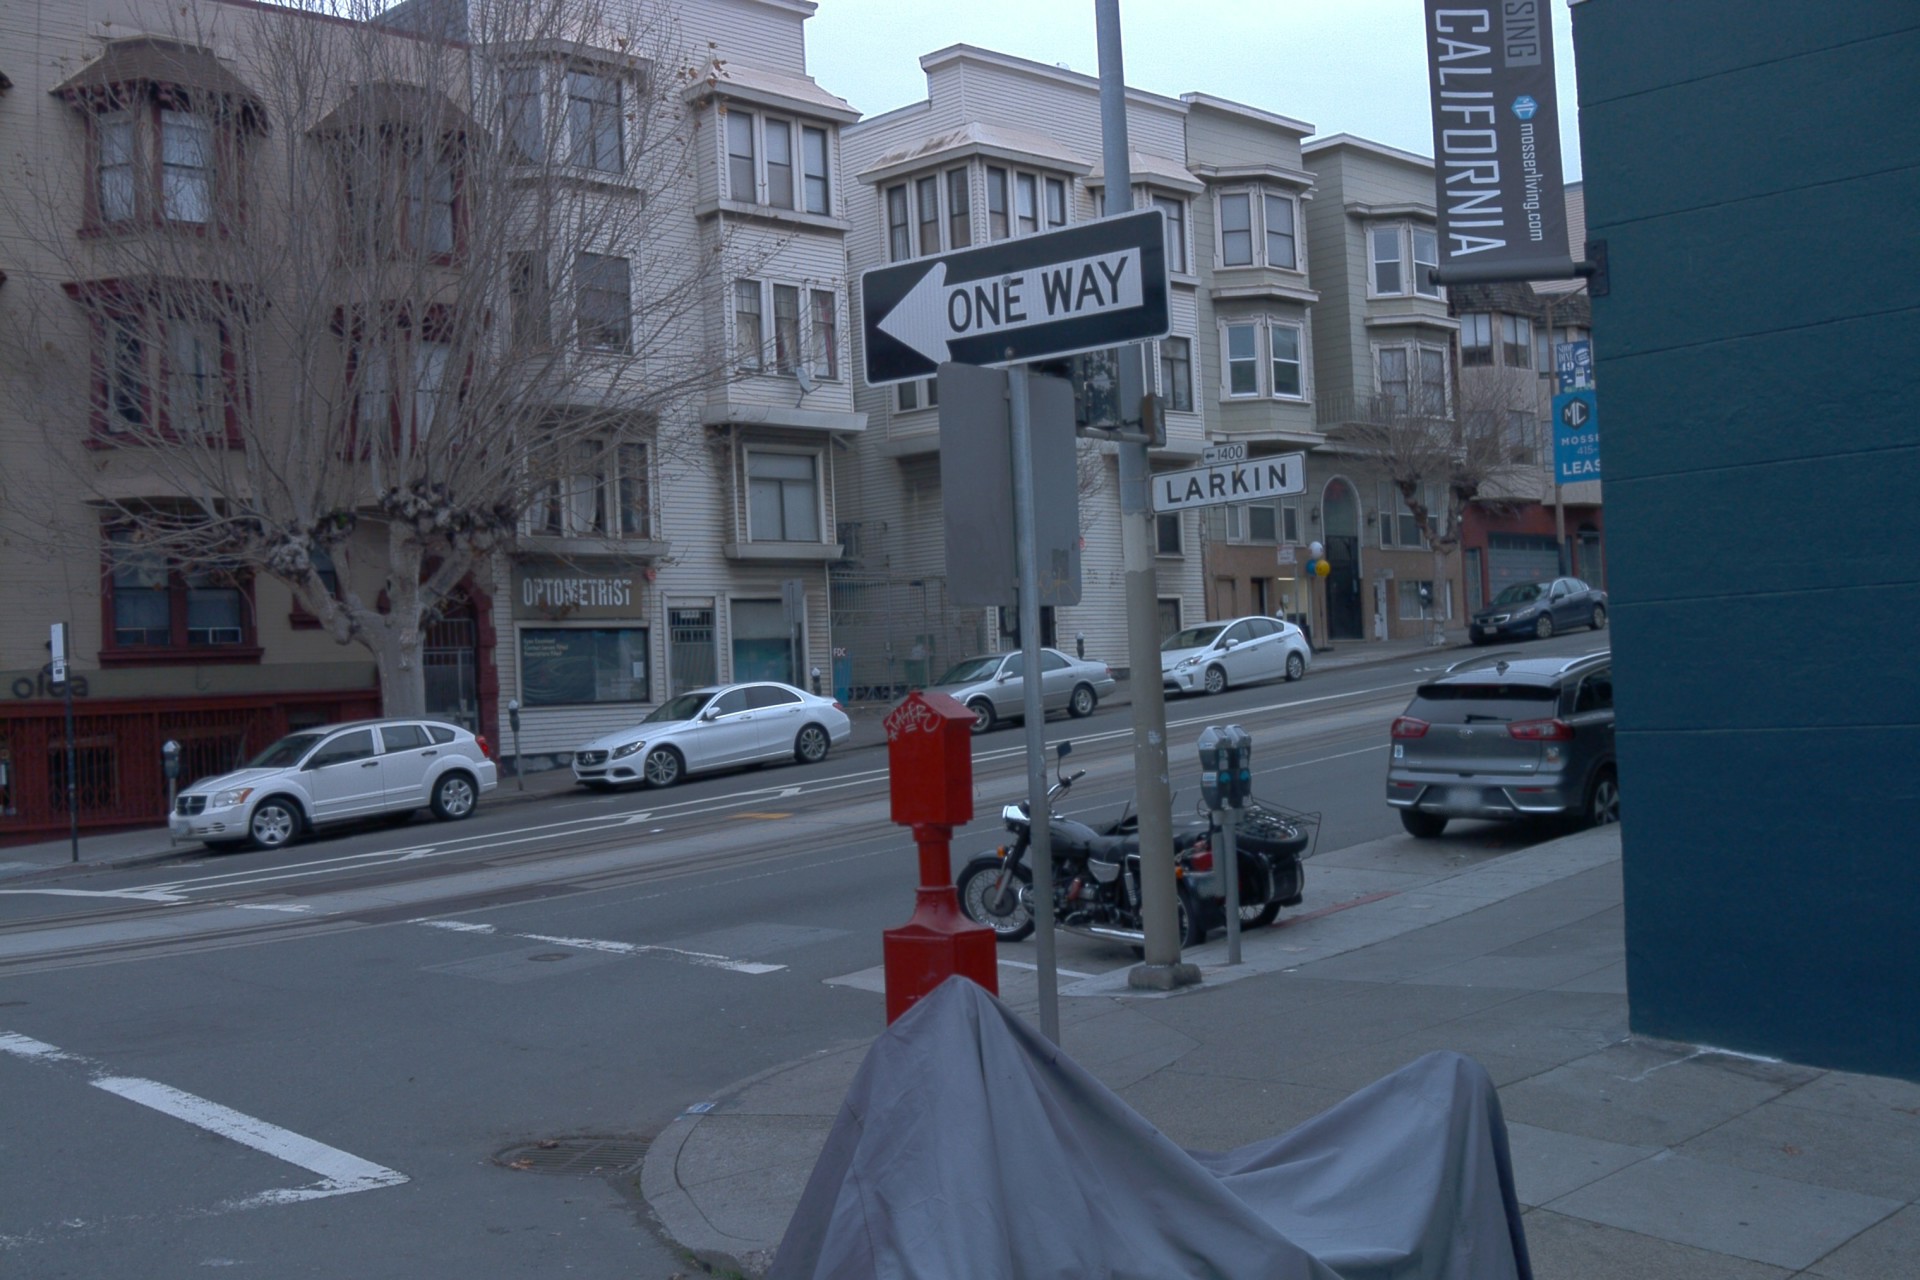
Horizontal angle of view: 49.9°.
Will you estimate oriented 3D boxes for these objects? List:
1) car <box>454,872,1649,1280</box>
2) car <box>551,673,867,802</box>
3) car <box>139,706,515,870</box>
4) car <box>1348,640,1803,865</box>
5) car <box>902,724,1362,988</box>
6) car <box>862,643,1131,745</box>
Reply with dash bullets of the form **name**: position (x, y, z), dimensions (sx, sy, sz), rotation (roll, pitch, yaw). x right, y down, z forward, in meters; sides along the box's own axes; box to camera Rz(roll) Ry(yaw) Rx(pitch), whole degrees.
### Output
- **car**: position (0.333, 1.392, 4.287), dimensions (2.490, 1.520, 1.048), rotation (-1, 1, -44)
- **car**: position (-3.869, 1.460, 32.362), dimensions (4.589, 1.757, 2.074), rotation (-1, 1, -44)
- **car**: position (-8.479, 1.913, 27.921), dimensions (2.053, 1.847, 4.407), rotation (1, 1, 44)
- **car**: position (5.647, 0.881, 18.583), dimensions (2.132, 1.717, 4.606), rotation (0, 1, 42)
- **car**: position (1.135, 1.376, 14.055), dimensions (2.745, 1.460, 1.540), rotation (0, 1, 42)
- **car**: position (0.716, 0.913, 37.121), dimensions (4.801, 1.657, 2.084), rotation (-1, 1, -45)
